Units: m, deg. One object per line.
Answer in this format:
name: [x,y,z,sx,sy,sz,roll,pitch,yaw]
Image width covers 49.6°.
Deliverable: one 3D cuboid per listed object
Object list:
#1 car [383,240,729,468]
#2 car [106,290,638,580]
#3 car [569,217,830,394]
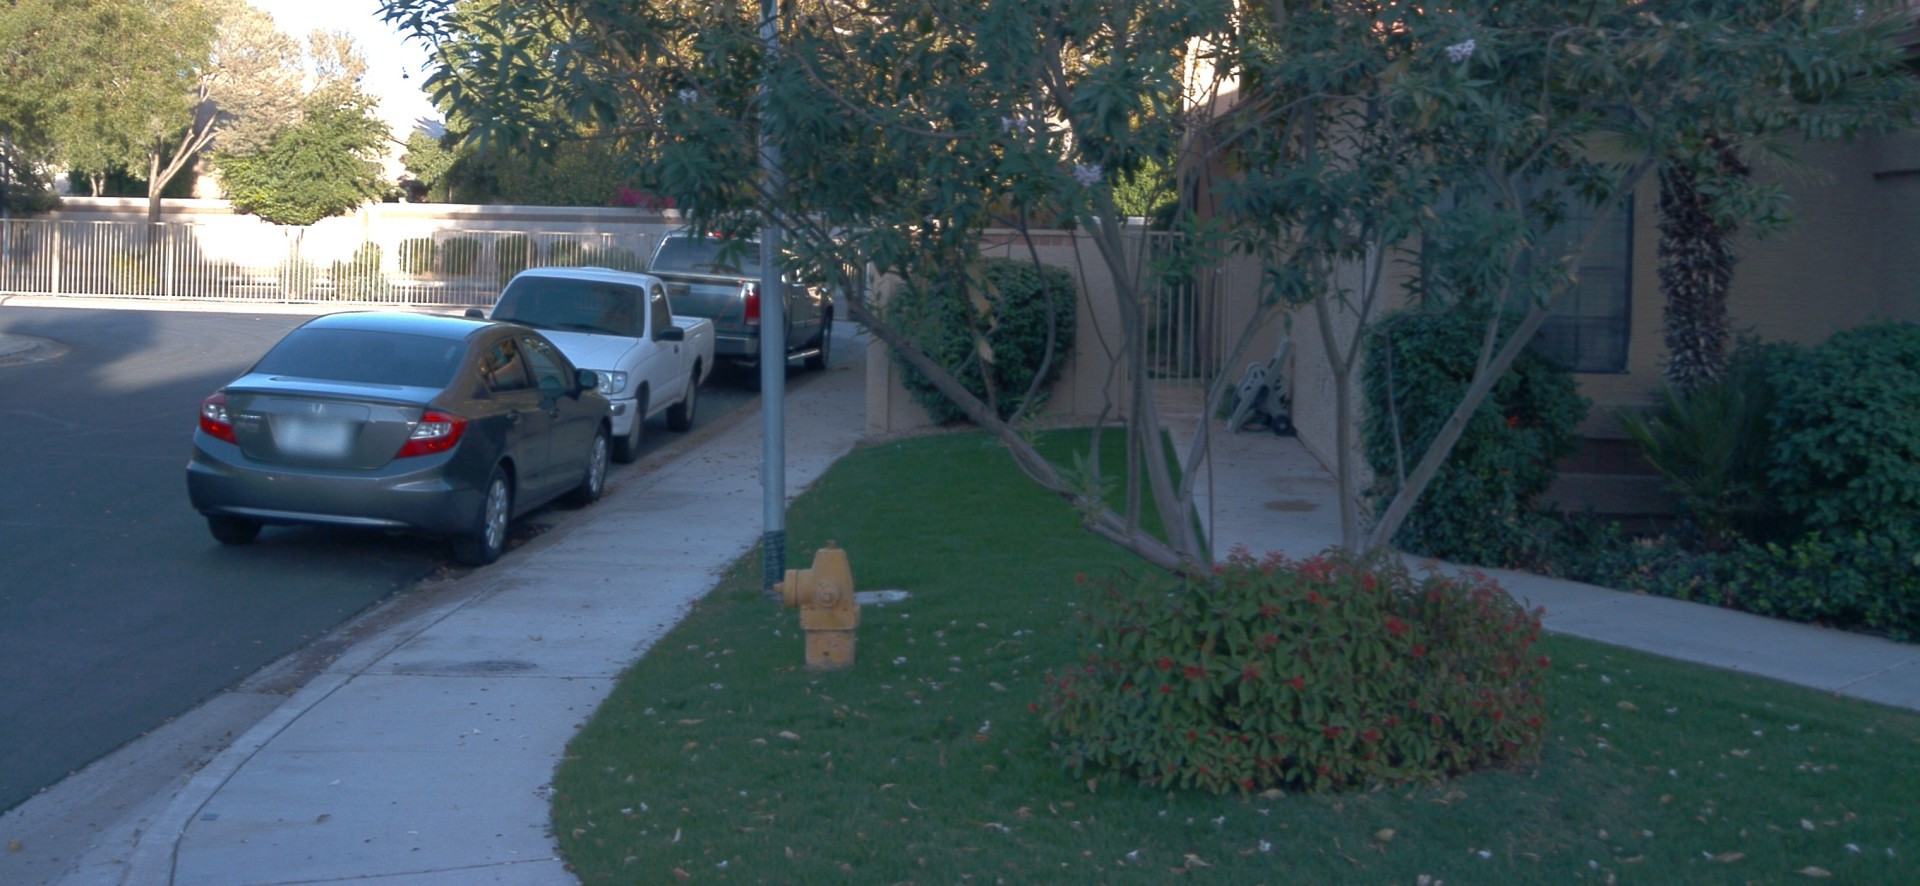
car: [-3.510,-0.945,19.031,2.025,1.793,4.714,1,5,3]
car: [-3.601,-0.212,13.704,2.059,1.464,4.473,1,5,2]
car: [-3.141,-1.828,26.366,2.172,1.983,5.485,1,5,5]
